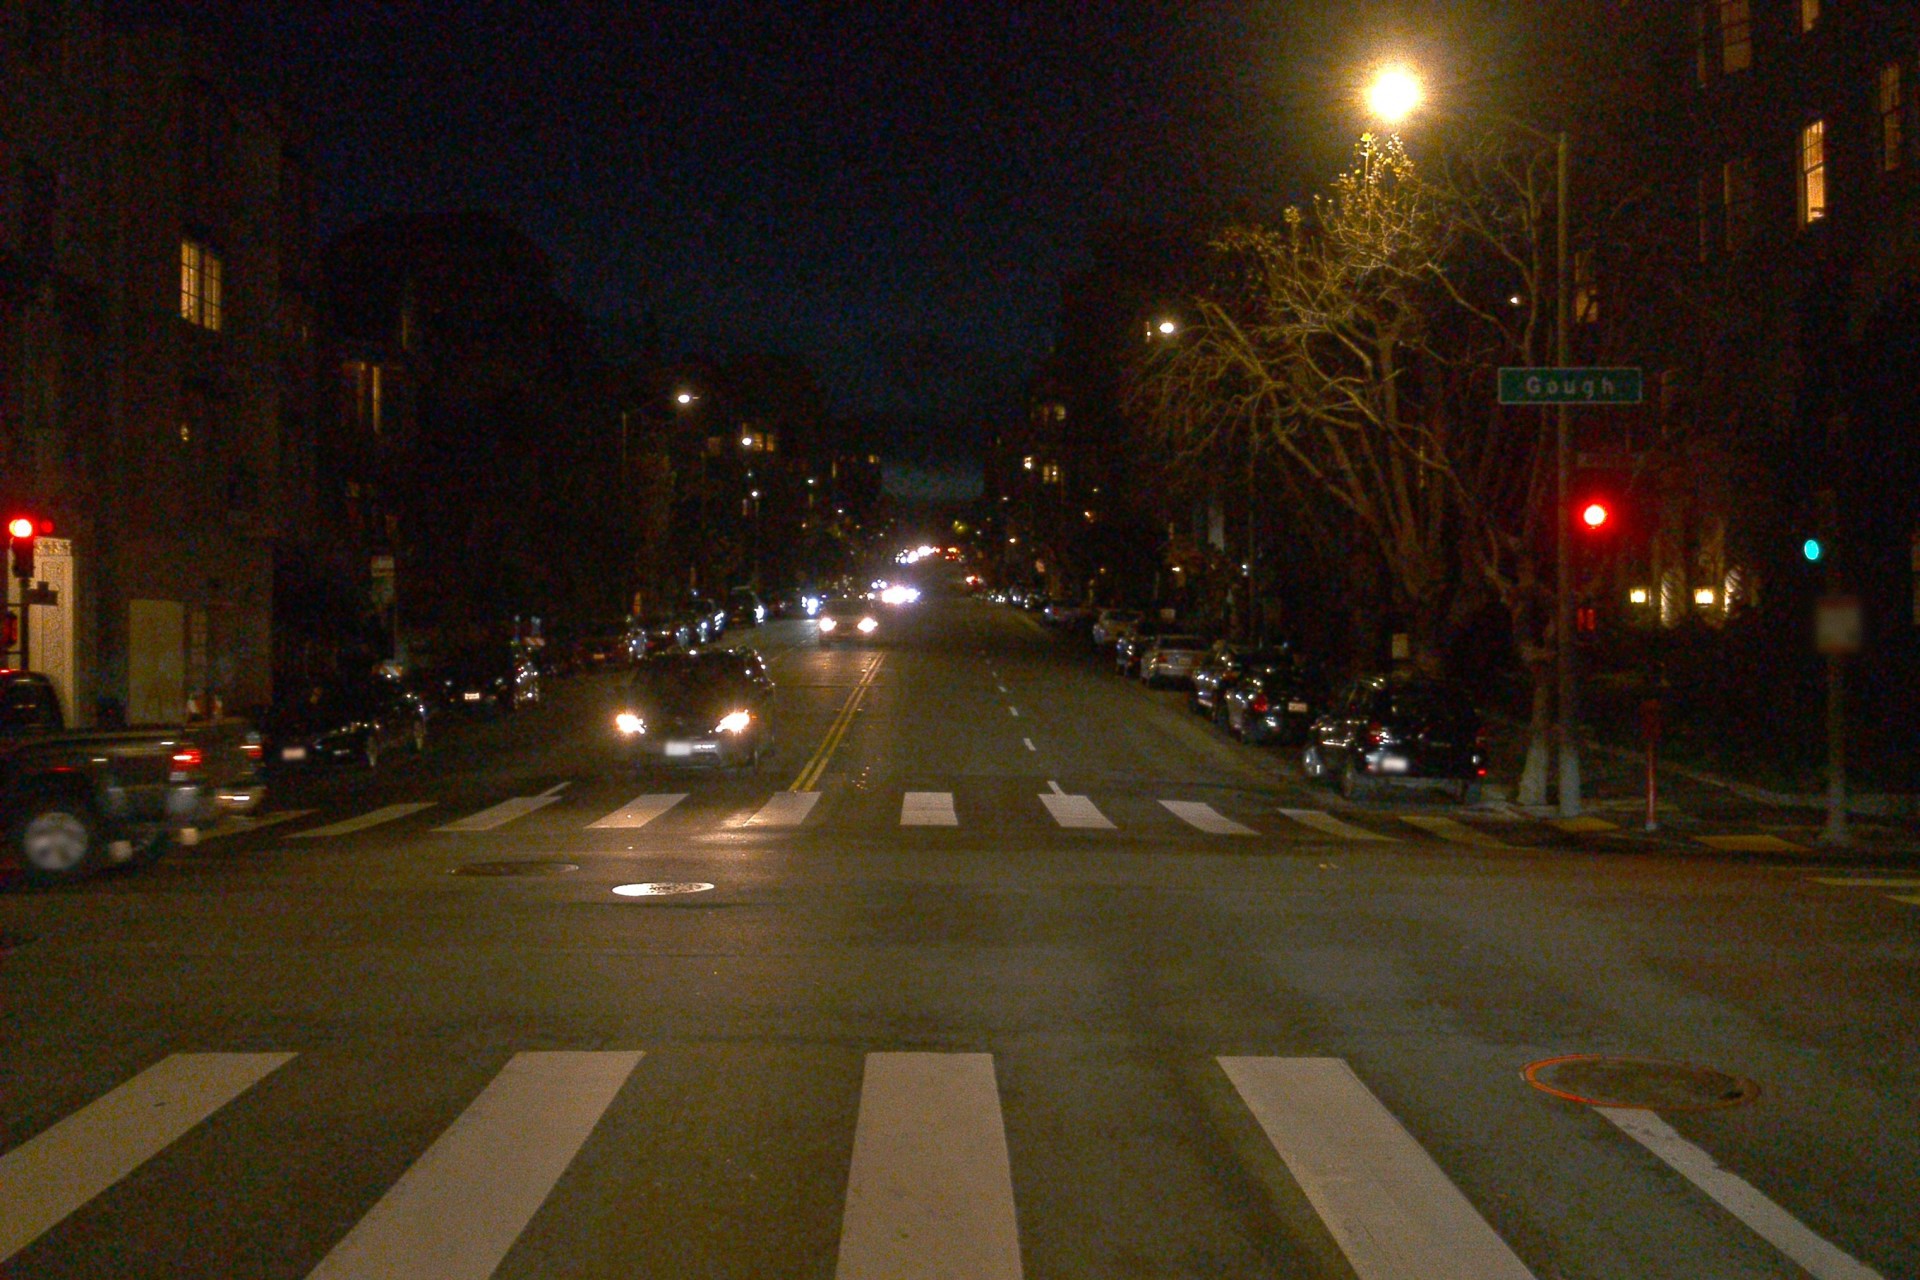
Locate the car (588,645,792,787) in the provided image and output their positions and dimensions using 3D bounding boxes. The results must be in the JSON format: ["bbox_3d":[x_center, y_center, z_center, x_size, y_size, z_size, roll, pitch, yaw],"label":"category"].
[{"bbox_3d":[-3.804,1.025,29.922,2.293,1.803,4.677,1,0,0],"label":"car"}]

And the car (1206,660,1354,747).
[{"bbox_3d":[5.816,1.124,37.883,1.802,1.404,4.078,1,0,-4],"label":"car"}]

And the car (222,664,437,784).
[{"bbox_3d":[-10.052,1.290,33.211,2.045,1.673,4.519,1,0,0],"label":"car"}]

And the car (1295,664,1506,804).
[{"bbox_3d":[6.081,1.256,28.894,1.802,1.714,4.078,1,0,-4],"label":"car"}]
